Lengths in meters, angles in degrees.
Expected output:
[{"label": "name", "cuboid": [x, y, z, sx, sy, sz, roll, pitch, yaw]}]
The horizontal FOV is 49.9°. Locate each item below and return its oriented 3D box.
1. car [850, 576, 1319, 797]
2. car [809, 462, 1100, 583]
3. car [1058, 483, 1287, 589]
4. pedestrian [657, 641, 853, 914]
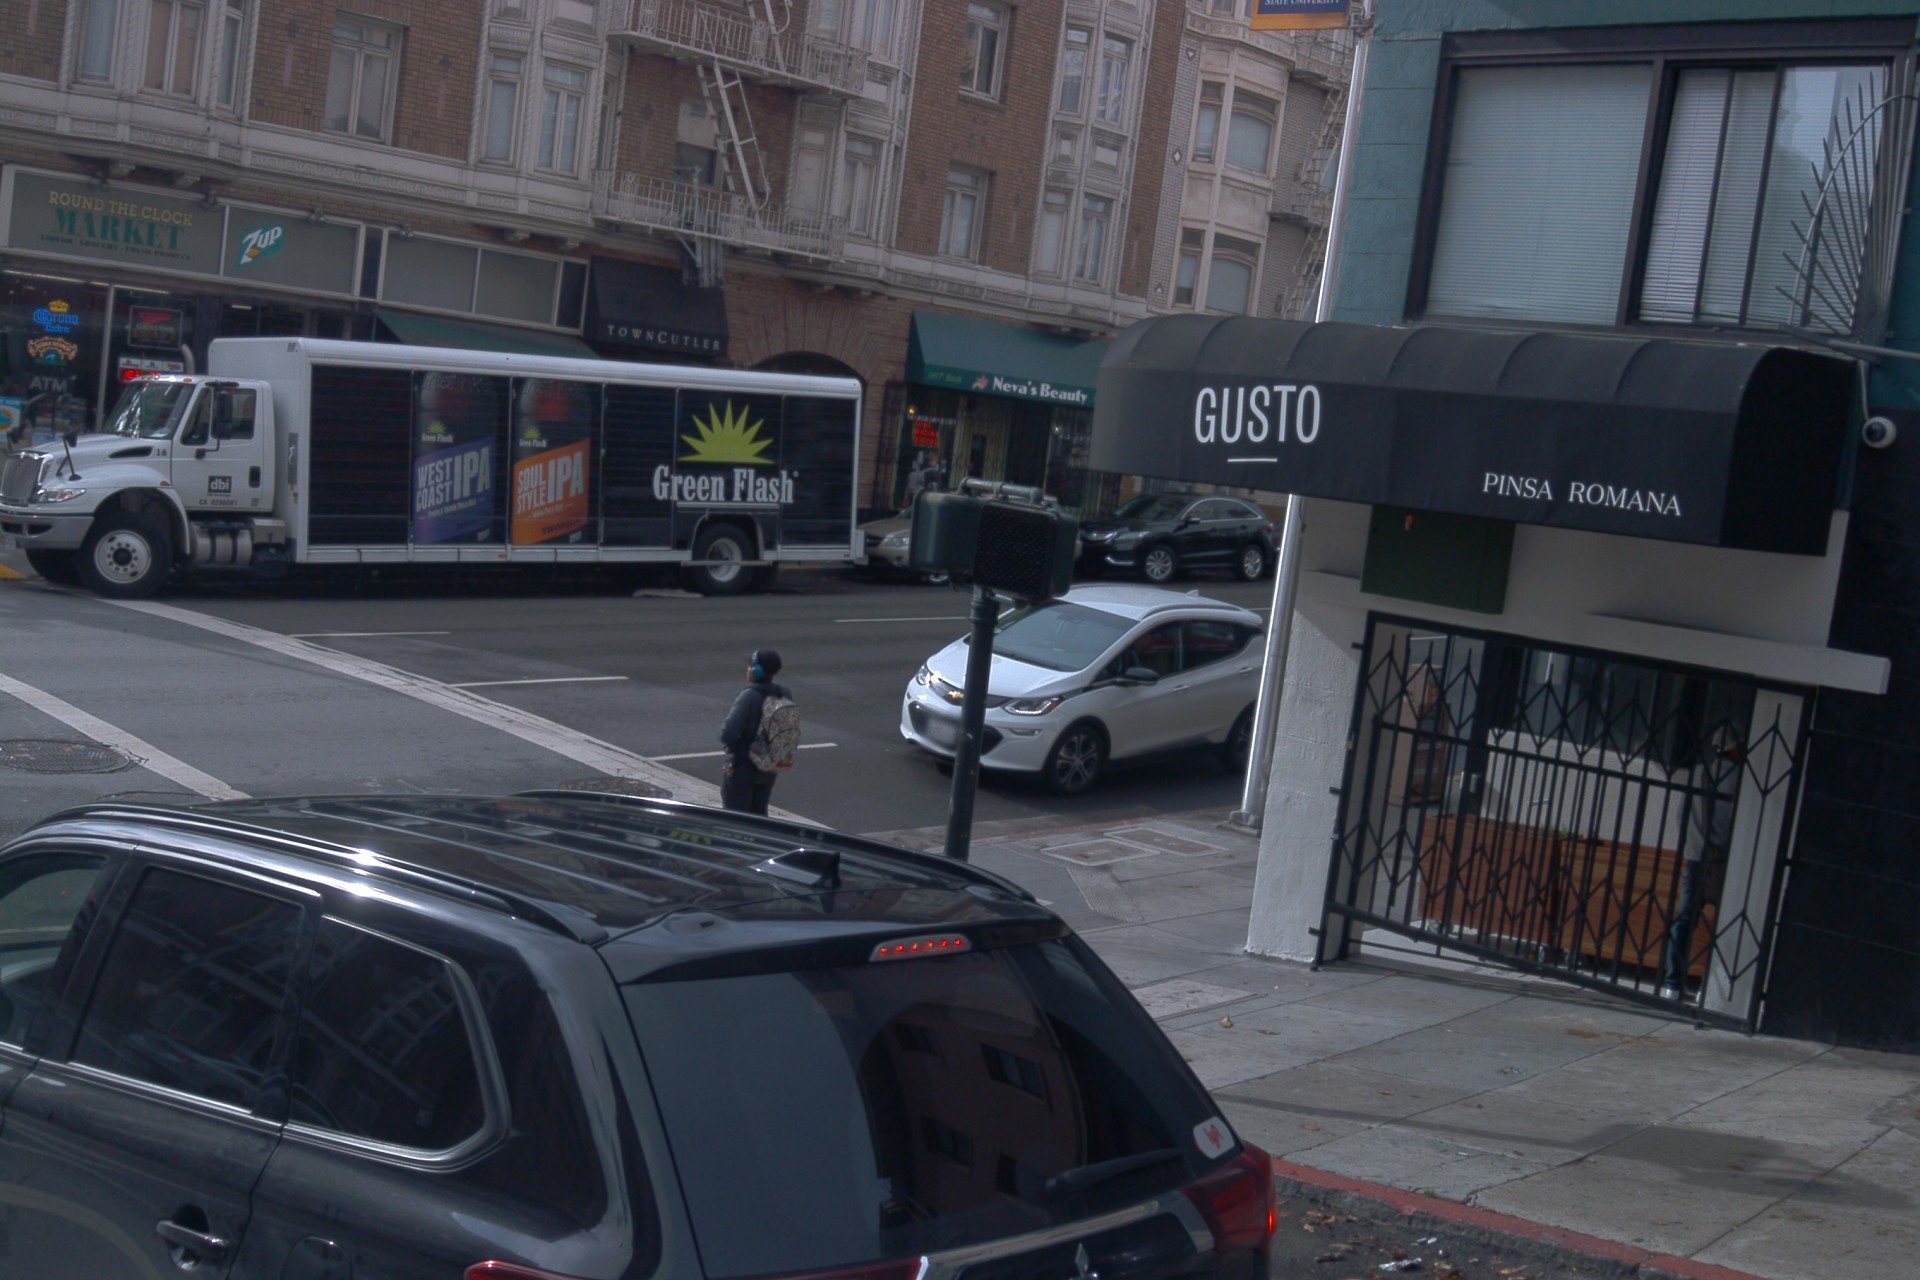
[{"label": "car", "cuboid": [1.245, 0.365, 18.917, 2.062, 1.780, 4.279, 2, 1, 42]}, {"label": "car", "cuboid": [-0.019, -1.903, 34.653, 2.182, 1.770, 4.833, 2, 1, 42]}, {"label": "car", "cuboid": [3.980, -1.873, 38.096, 1.888, 1.740, 4.436, 2, 1, 43]}, {"label": "pedestrian", "cuboid": [-1.265, 0.809, 12.720, 0.929, 1.590, 0.750, 2, 1, 43]}]
